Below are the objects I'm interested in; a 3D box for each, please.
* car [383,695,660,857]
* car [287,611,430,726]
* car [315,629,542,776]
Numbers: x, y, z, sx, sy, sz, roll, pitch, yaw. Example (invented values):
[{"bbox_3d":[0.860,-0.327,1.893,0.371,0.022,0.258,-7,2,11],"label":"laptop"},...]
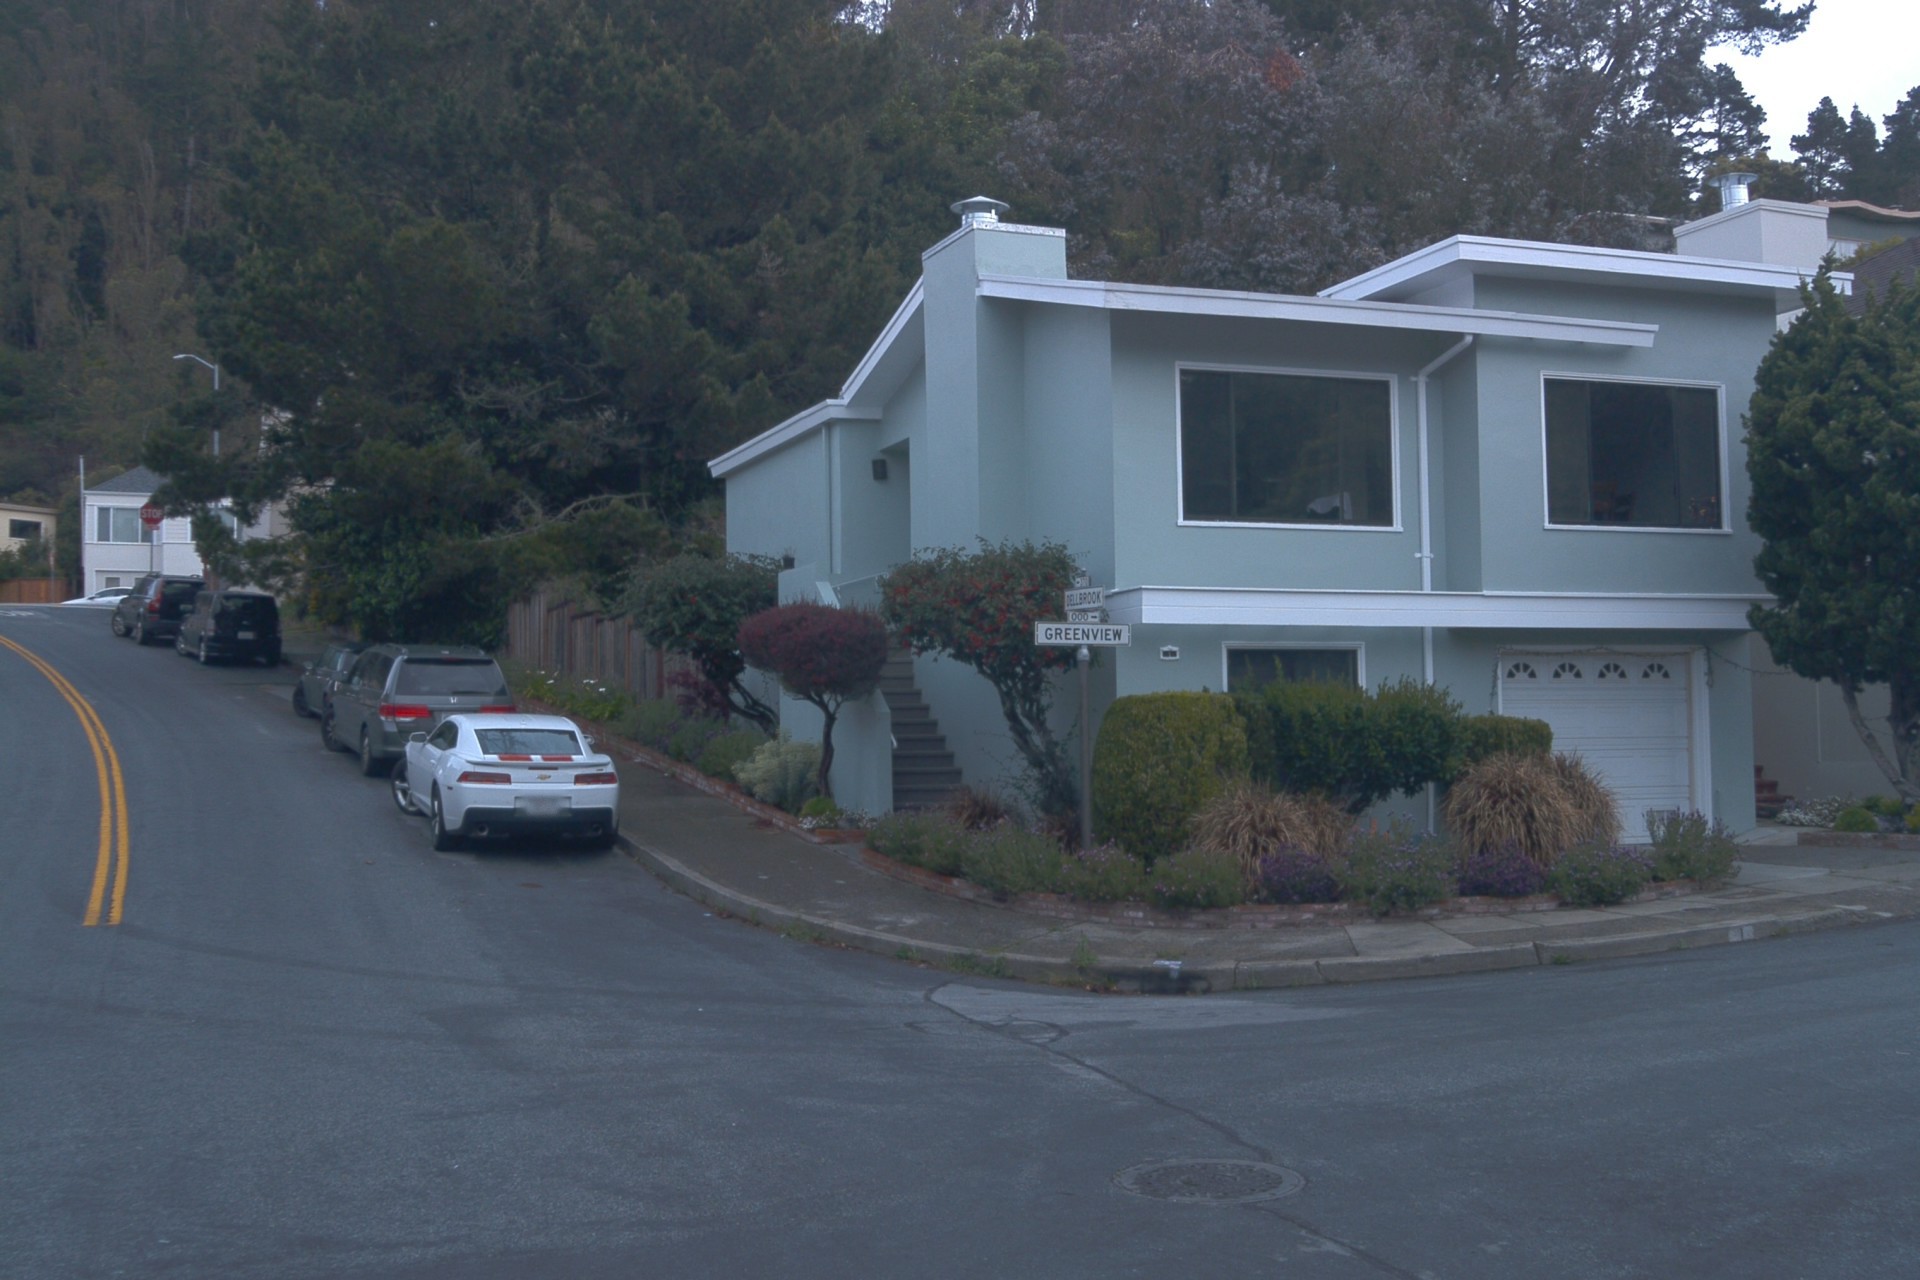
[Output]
[{"bbox_3d":[-5.080,1.434,23.416,2.197,1.510,4.910,0,0,-22],"label":"car"},{"bbox_3d":[-10.175,0.464,34.916,1.721,1.820,3.410,0,0,-27],"label":"car"},{"bbox_3d":[-7.673,0.830,29.559,2.315,1.910,4.713,0,0,-25],"label":"car"}]
